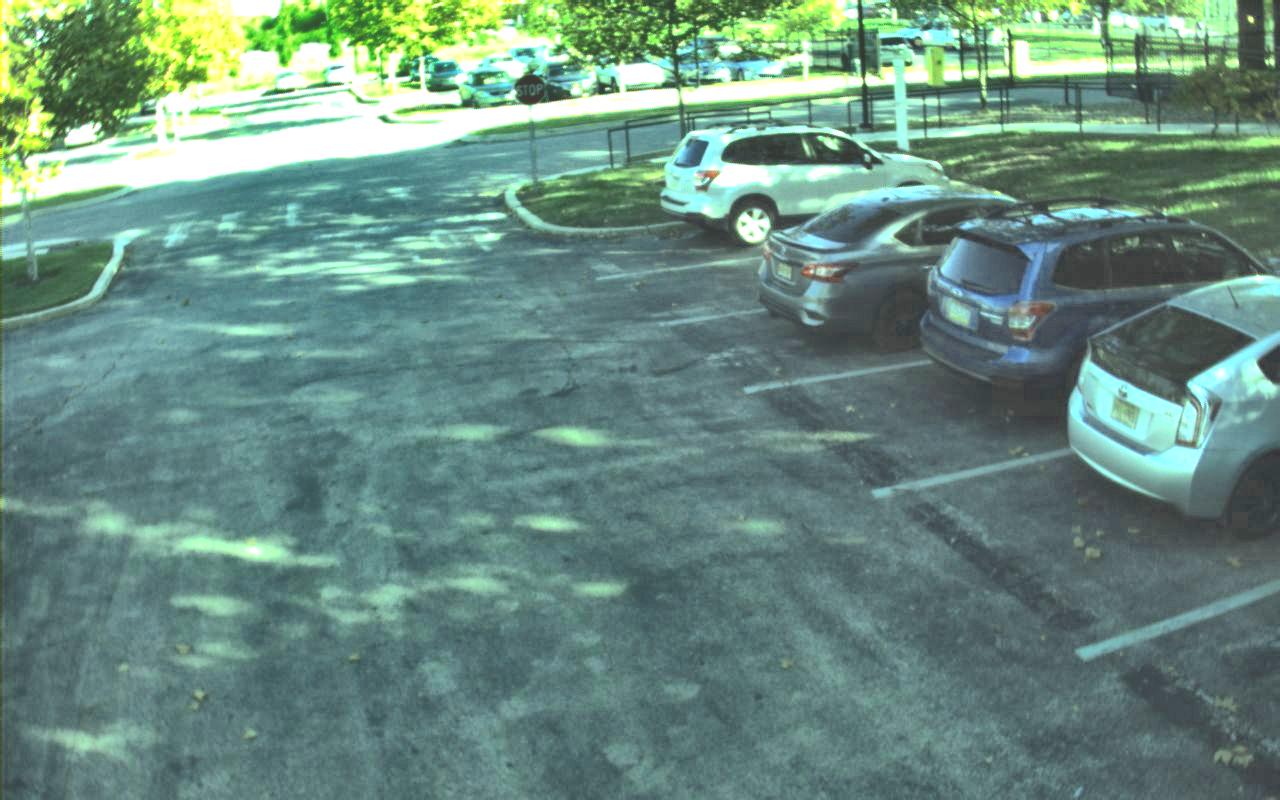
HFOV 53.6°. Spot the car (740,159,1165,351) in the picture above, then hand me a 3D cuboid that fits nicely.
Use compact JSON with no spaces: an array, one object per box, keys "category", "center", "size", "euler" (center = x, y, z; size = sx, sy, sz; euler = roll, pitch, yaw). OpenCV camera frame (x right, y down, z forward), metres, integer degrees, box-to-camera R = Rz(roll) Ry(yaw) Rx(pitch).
[{"category":"car","center":[3.480,-1.711,13.394],"size":[4.429,1.550,1.921],"euler":[-6,17,-17]}]

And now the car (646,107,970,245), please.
[{"category":"car","center":[2.598,-3.522,19.027],"size":[4.599,1.739,1.985],"euler":[-6,17,-17]}]

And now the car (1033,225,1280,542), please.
[{"category":"car","center":[5.247,-0.329,8.515],"size":[4.346,1.590,1.914],"euler":[-6,17,-16]}]

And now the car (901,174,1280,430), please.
[{"category":"car","center":[4.779,-1.084,10.873],"size":[4.462,1.725,1.966],"euler":[-6,17,-16]}]
